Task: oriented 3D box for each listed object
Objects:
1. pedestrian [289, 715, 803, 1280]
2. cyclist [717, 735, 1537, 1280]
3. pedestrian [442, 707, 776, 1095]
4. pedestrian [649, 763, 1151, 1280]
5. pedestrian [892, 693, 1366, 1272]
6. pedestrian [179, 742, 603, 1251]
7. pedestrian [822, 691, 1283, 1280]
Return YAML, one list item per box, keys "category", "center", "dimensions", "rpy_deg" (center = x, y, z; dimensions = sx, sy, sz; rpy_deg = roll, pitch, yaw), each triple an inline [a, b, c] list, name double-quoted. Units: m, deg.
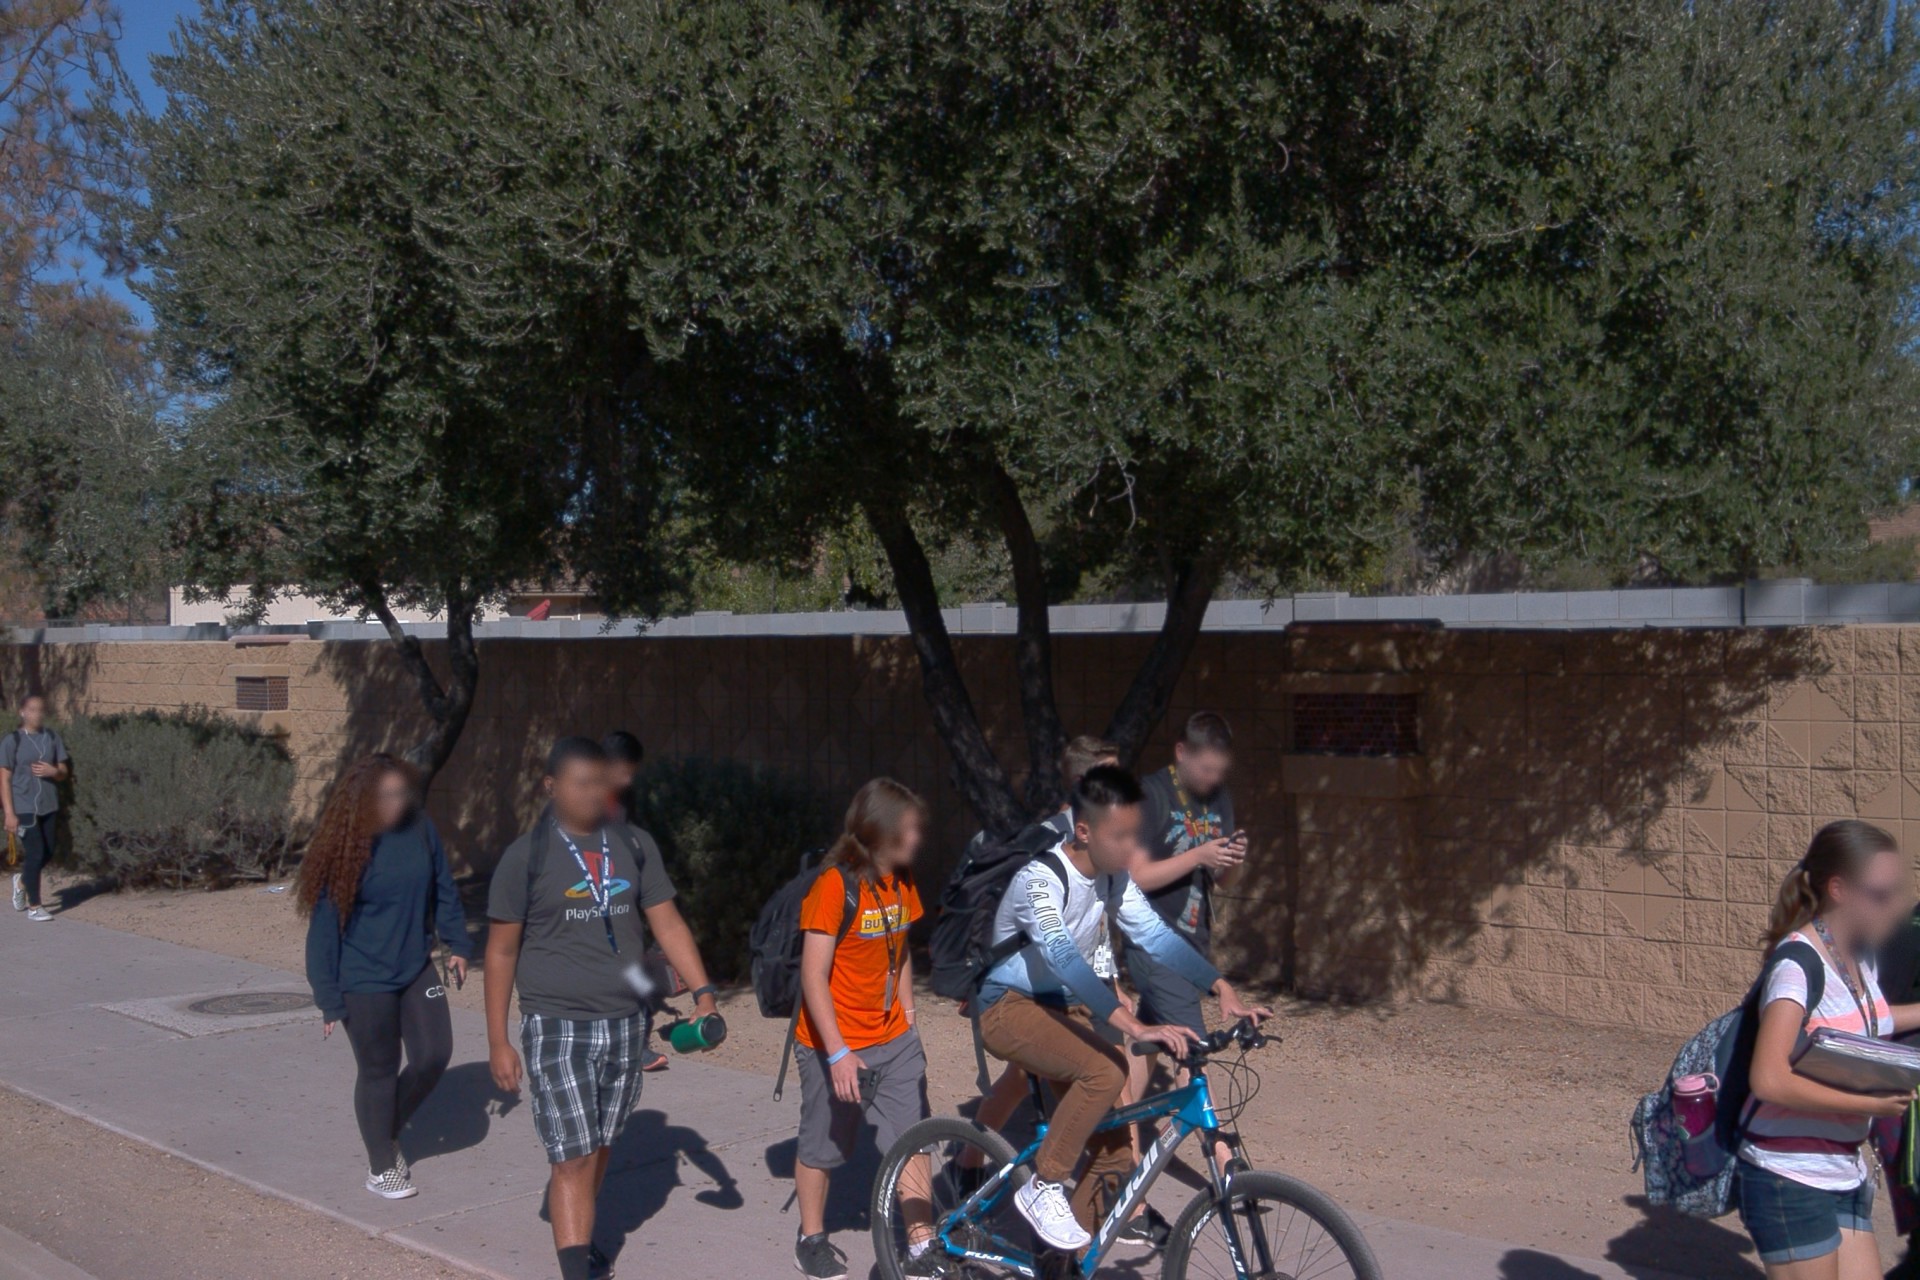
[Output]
- category: "pedestrian"
  center: [-1.265, 1.130, 6.352]
  dimensions: [1.167, 1.770, 1.037]
  rpy_deg: [0, -1, 42]
- category: "cyclist"
  center: [0.378, 1.154, 5.387]
  dimensions: [1.895, 1.750, 1.008]
  rpy_deg: [0, -1, 44]
- category: "pedestrian"
  center: [-1.647, 1.151, 9.761]
  dimensions: [1.167, 1.650, 1.037]
  rpy_deg: [0, -1, 42]
- category: "pedestrian"
  center: [-0.188, 1.227, 6.496]
  dimensions: [1.167, 1.620, 1.037]
  rpy_deg: [0, -1, 42]
- category: "pedestrian"
  center: [0.597, 1.110, 7.450]
  dimensions: [1.350, 1.820, 1.010]
  rpy_deg: [0, -1, 42]
- category: "pedestrian"
  center: [-2.097, 1.218, 7.668]
  dimensions: [1.167, 1.630, 1.037]
  rpy_deg: [0, -1, 43]
- category: "pedestrian"
  center: [0.315, 1.112, 7.083]
  dimensions: [1.167, 1.860, 1.037]
  rpy_deg: [0, -1, 42]
